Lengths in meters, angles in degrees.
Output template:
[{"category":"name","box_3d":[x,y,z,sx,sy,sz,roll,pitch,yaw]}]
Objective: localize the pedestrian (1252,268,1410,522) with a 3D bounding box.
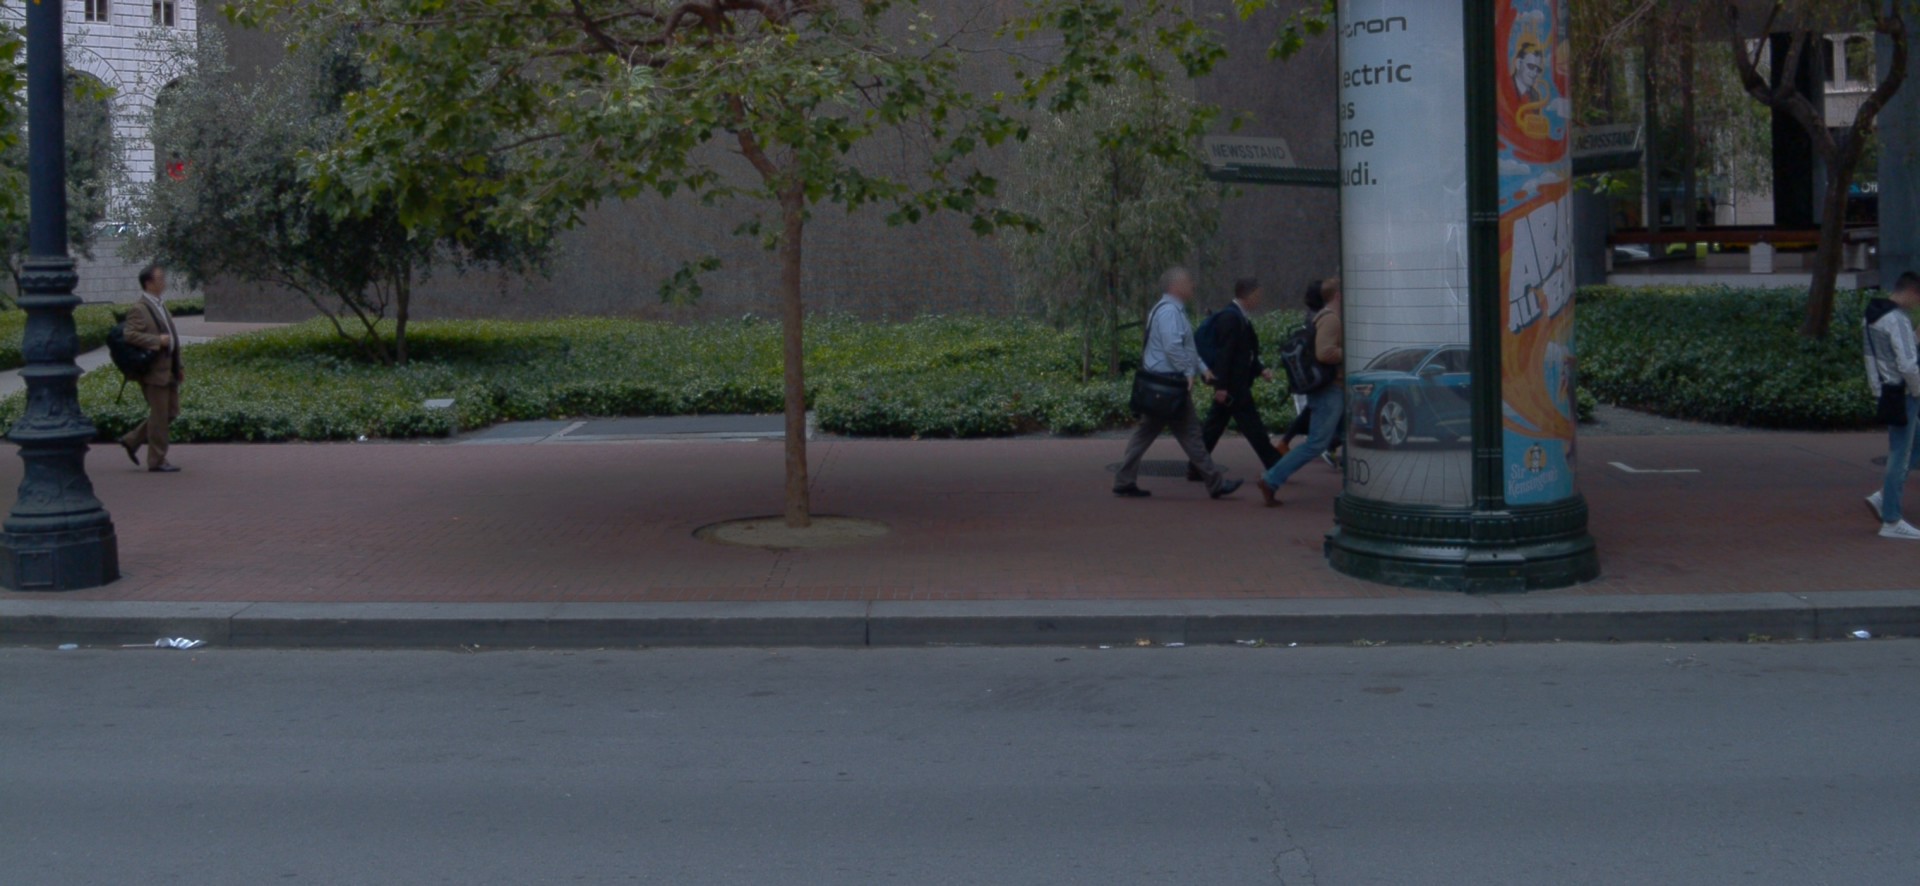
[{"category":"pedestrian","box_3d":[2.753,-0.380,15.457,1.075,1.827,0.737,0,2,2]}]

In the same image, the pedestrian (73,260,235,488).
[{"category":"pedestrian","box_3d":[-6.947,-0.629,17.912,1.099,1.877,1.032,0,2,-9]}]

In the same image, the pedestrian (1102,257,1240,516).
[{"category":"pedestrian","box_3d":[1.605,-0.469,15.902,1.013,1.897,0.997,0,2,4]}]

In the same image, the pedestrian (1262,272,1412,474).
[{"category":"pedestrian","box_3d":[3.276,-0.636,18.105,1.172,1.697,0.931,0,2,2]}]

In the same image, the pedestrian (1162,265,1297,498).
[{"category":"pedestrian","box_3d":[2.153,-0.522,16.670,1.012,1.797,0.887,0,2,3]}]
